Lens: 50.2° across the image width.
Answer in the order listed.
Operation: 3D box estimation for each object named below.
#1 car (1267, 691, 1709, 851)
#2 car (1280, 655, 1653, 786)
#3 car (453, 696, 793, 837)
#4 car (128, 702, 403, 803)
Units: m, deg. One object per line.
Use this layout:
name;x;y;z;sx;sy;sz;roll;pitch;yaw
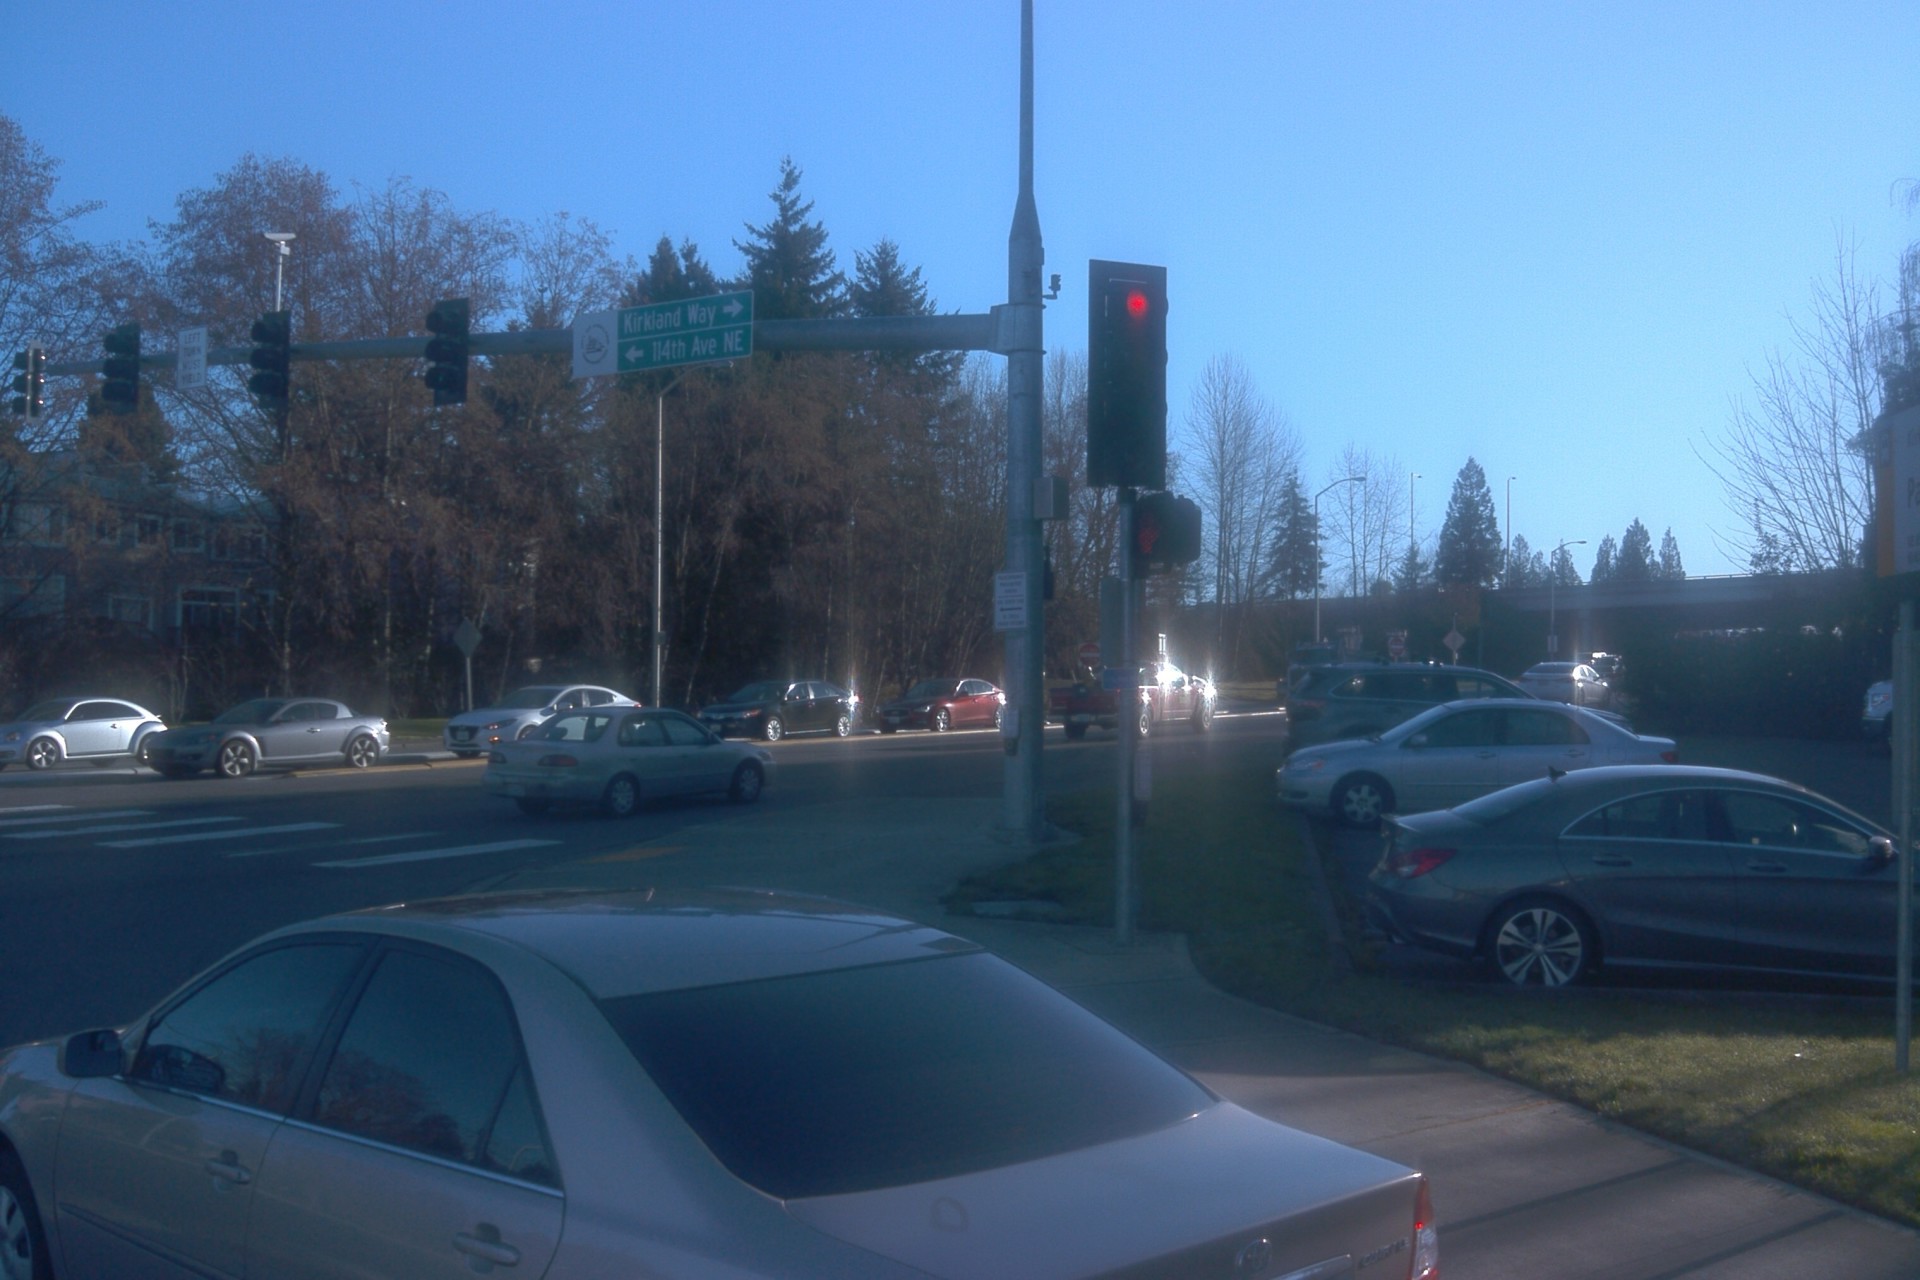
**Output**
car;5.907;1.450;23.458;4.657;1.620;2.051;0;0;7
car;7.007;1.086;28.821;4.869;1.700;2.043;0;0;7
car;-4.259;1.554;26.519;1.773;1.510;4.437;1;1;34
car;-11.816;1.877;35.094;1.817;1.450;4.298;1;1;32
